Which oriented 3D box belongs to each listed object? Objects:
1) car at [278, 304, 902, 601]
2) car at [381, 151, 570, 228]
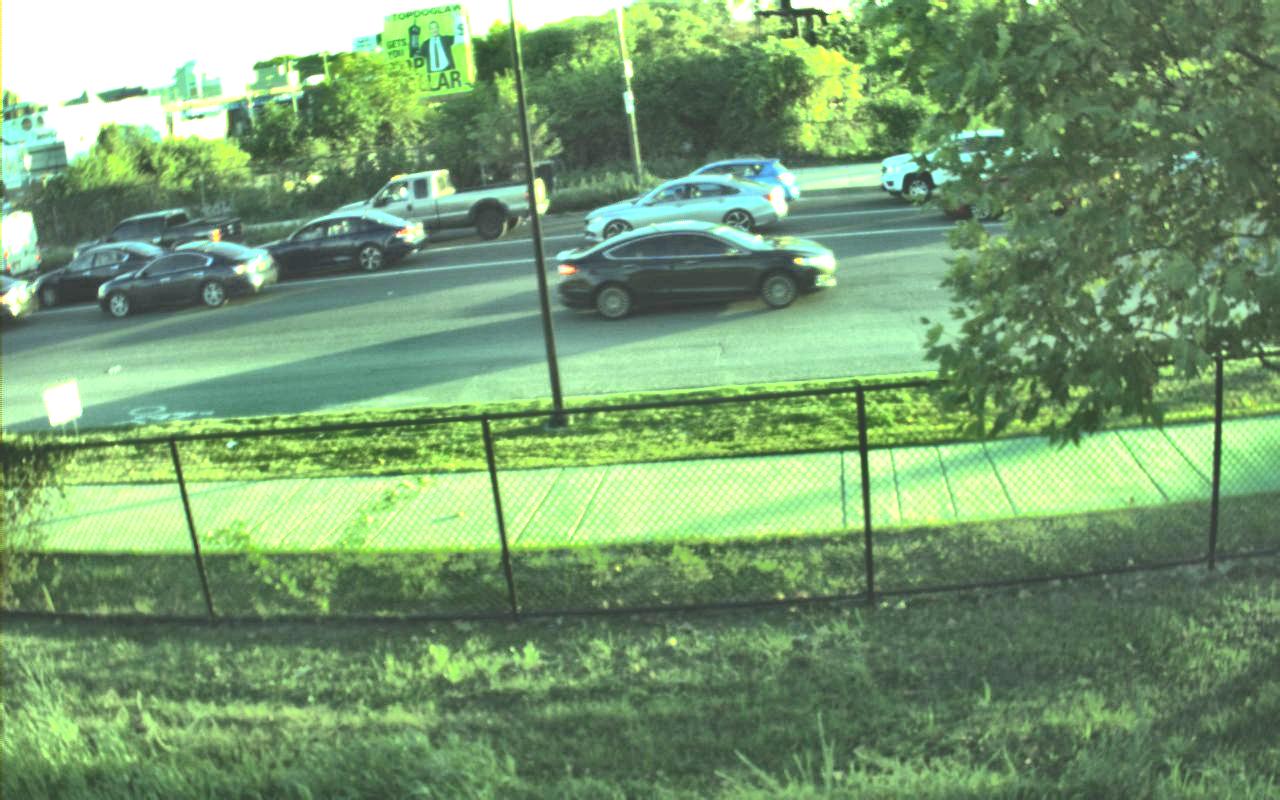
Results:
[{"bbox_3d":[-0.309,0.323,10.552,4.833,1.761,2.130,2,16,9],"label":"car"},{"bbox_3d":[-4.536,-5.841,34.523,4.873,1.786,2.086,1,16,6],"label":"car"}]
